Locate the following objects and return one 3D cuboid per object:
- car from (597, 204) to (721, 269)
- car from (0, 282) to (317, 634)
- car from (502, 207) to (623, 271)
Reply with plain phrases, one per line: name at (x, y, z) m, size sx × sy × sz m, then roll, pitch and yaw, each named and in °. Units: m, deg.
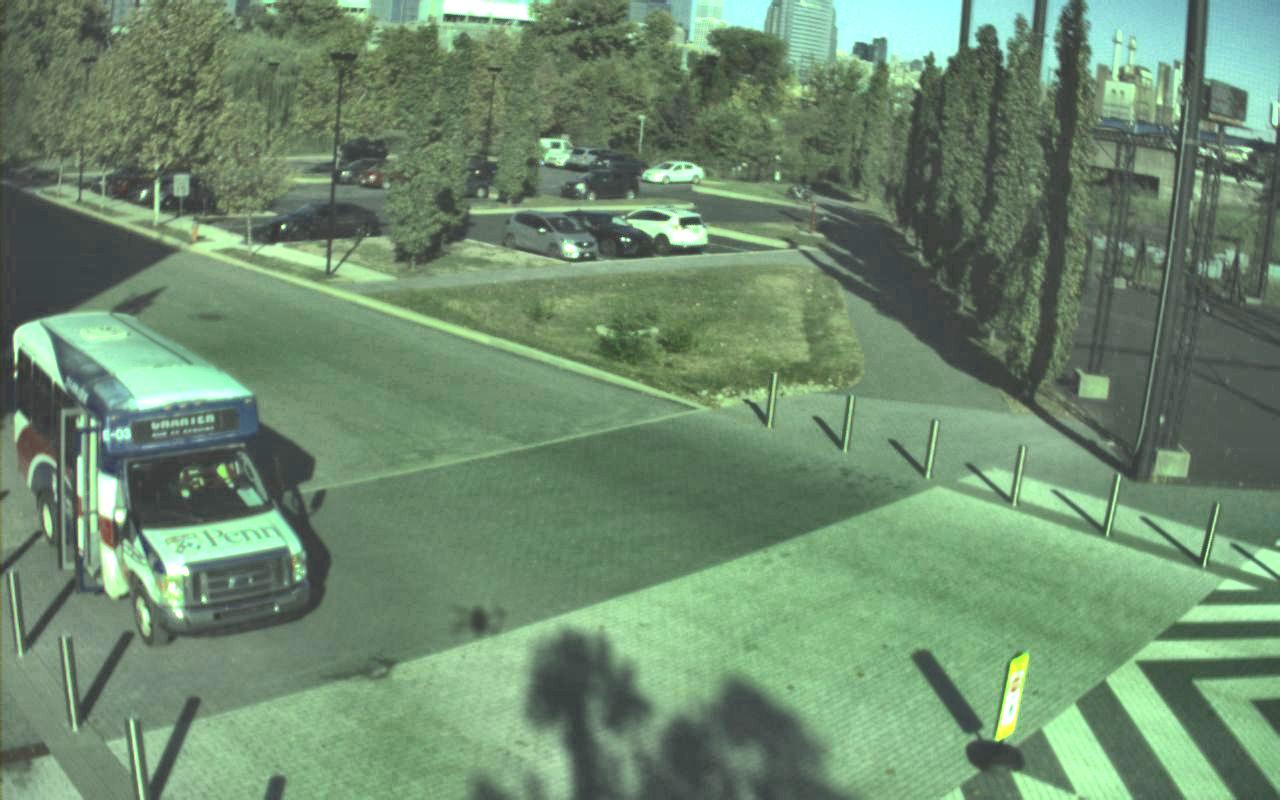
car at (0.690, -6.335, 48.422) m, size 4.608 × 1.777 × 2.023 m, roll 15°, pitch 22°, yaw 42°
car at (-6.955, 0.415, 15.457) m, size 2.546 × 2.680 × 6.497 m, roll -15°, pitch 22°, yaw -40°
car at (-2.839, -5.840, 45.242) m, size 1.967 × 1.579 × 4.426 m, roll -15°, pitch 22°, yaw -40°
